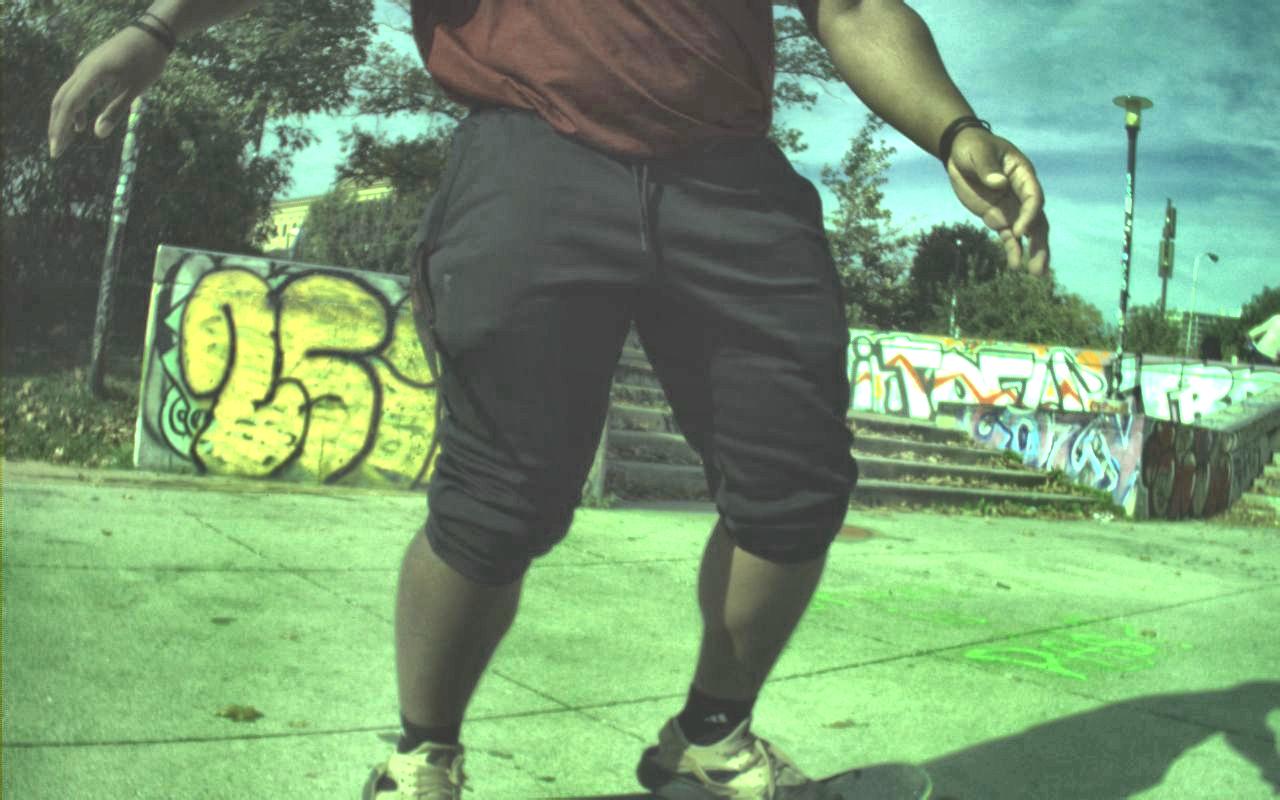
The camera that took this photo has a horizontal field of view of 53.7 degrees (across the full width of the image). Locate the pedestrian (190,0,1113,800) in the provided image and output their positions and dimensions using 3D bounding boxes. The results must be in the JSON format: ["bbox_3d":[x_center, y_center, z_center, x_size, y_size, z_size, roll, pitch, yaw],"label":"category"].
[{"bbox_3d":[0.041,0.090,1.517,0.969,1.546,0.856,0,0,8],"label":"pedestrian"}]

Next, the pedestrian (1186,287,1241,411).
[{"bbox_3d":[8.787,-0.732,17.683,0.676,1.870,0.710,0,0,-41],"label":"pedestrian"}]
